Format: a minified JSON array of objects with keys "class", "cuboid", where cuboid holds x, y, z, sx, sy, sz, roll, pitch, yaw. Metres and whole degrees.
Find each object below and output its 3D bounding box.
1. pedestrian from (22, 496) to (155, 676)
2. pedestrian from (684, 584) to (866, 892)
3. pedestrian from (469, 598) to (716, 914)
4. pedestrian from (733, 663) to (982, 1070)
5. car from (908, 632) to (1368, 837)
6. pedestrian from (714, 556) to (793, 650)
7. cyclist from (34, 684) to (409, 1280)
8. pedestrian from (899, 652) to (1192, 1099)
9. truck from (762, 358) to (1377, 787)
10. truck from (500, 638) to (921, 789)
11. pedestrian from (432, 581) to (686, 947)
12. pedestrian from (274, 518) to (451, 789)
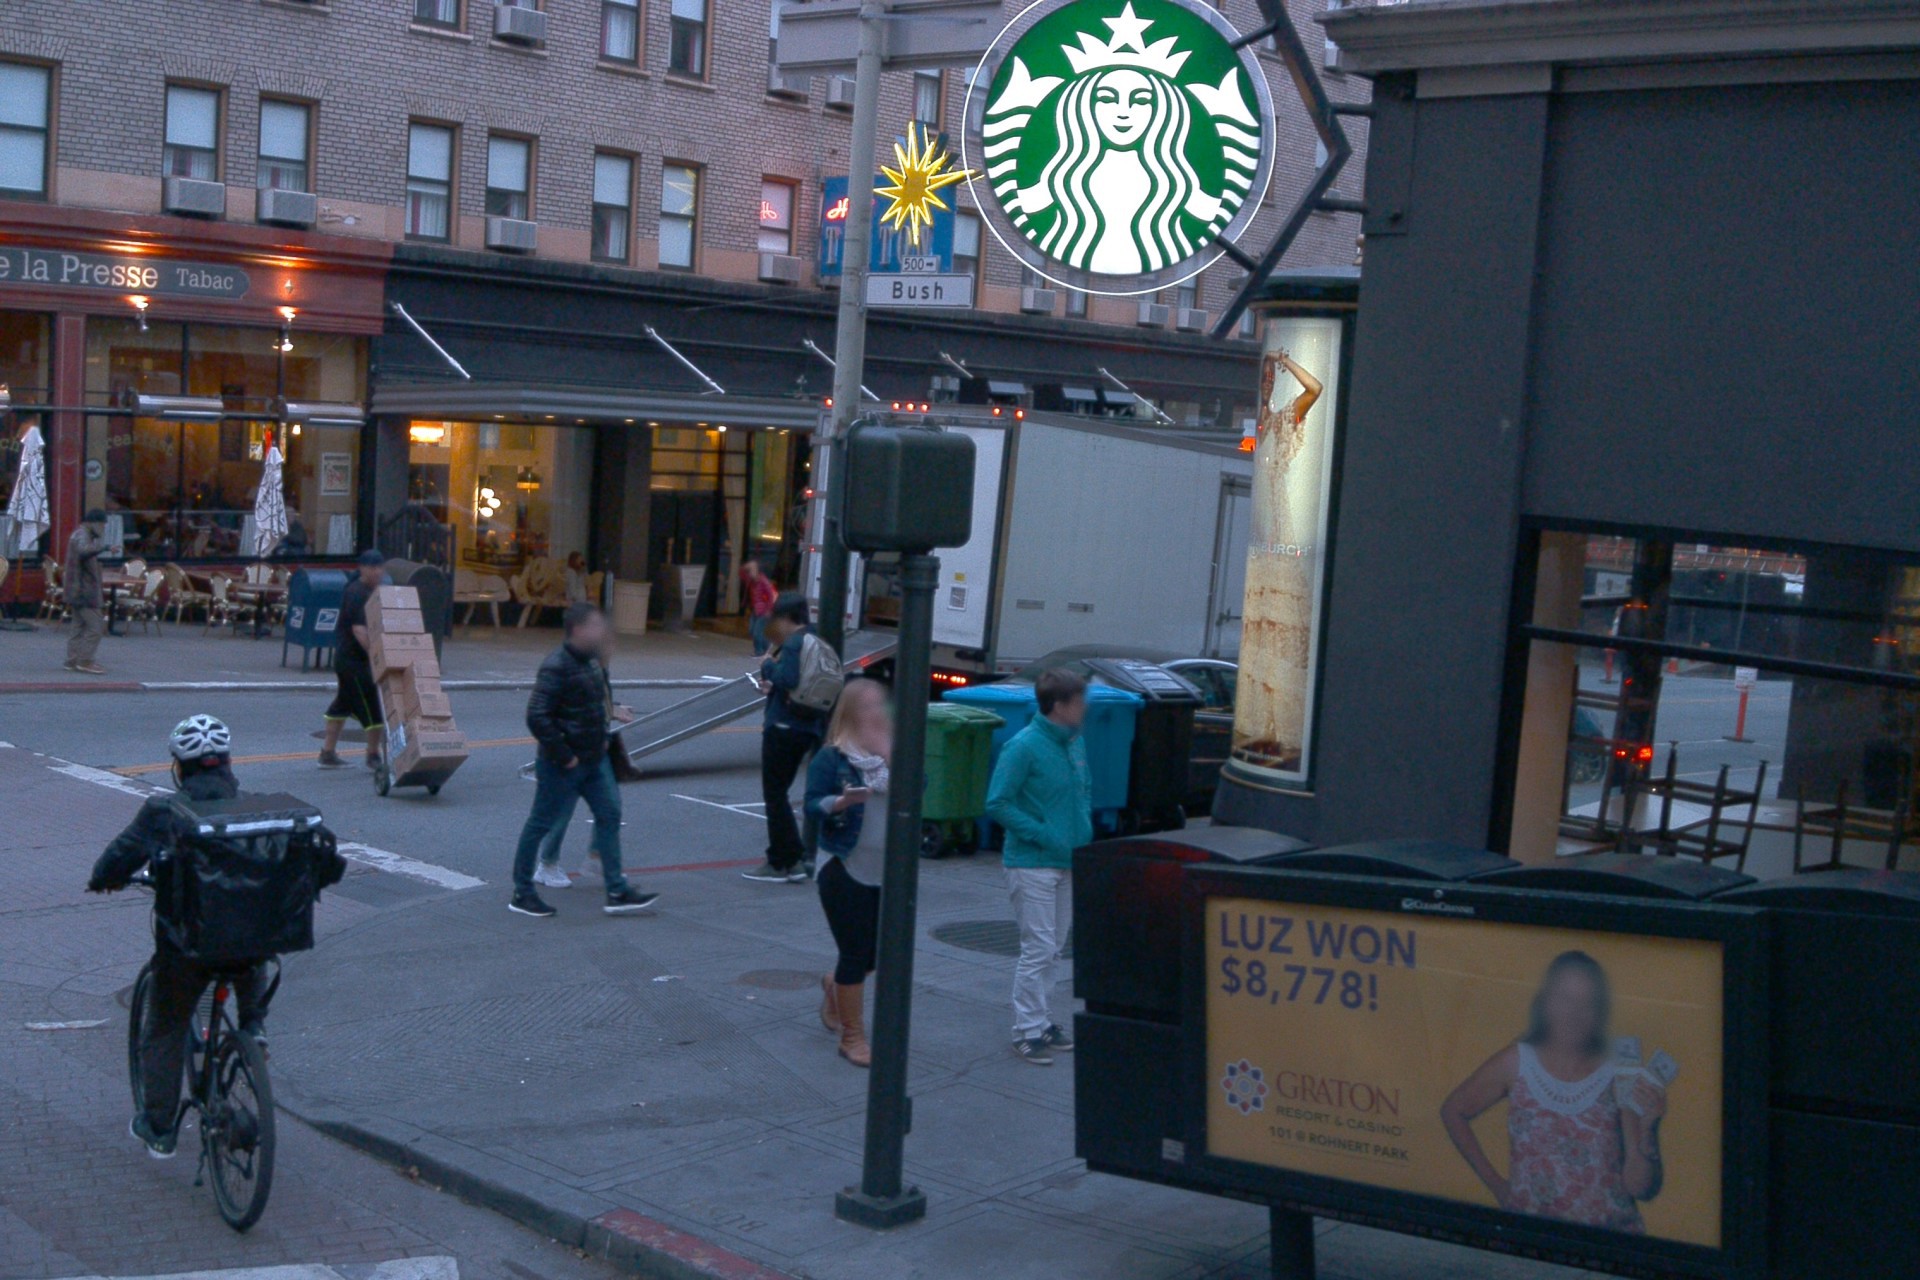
[{"class":"pedestrian","cuboid":[-9.569,-0.579,22.556,1.103,1.906,1.198,0,0,-35]},{"class":"pedestrian","cuboid":[-1.127,0.565,12.518,0.885,1.796,0.674,0,0,41]},{"class":"pedestrian","cuboid":[-2.063,0.618,11.649,1.037,1.692,0.997,0,0,17]},{"class":"pedestrian","cuboid":[-0.443,0.895,8.614,0.676,1.570,0.904,0,0,-33]},{"class":"car","cuboid":[1.708,0.725,18.312,1.948,1.570,4.383,0,1,39]},{"class":"pedestrian","cuboid":[-3.216,-0.566,32.053,0.912,1.441,0.811,0,0,-42]},{"class":"cyclist","cuboid":[-2.659,1.077,7.259,0.830,1.780,1.892,0,0,-33]},{"class":"pedestrian","cuboid":[0.341,0.923,8.689,0.780,1.721,1.103,0,0,-28]},{"class":"truck","cuboid":[1.457,-0.647,22.102,2.893,3.840,7.201,0,1,39]},{"class":"truck","cuboid":[-2.075,0.580,18.113,1.006,1.154,4.038,0,1,41]},{"class":"pedestrian","cuboid":[-2.115,0.623,10.930,1.067,1.851,0.840,0,0,14]},{"class":"pedestrian","cuboid":[-4.762,0.093,16.369,0.971,2.060,1.140,0,0,-40]}]
